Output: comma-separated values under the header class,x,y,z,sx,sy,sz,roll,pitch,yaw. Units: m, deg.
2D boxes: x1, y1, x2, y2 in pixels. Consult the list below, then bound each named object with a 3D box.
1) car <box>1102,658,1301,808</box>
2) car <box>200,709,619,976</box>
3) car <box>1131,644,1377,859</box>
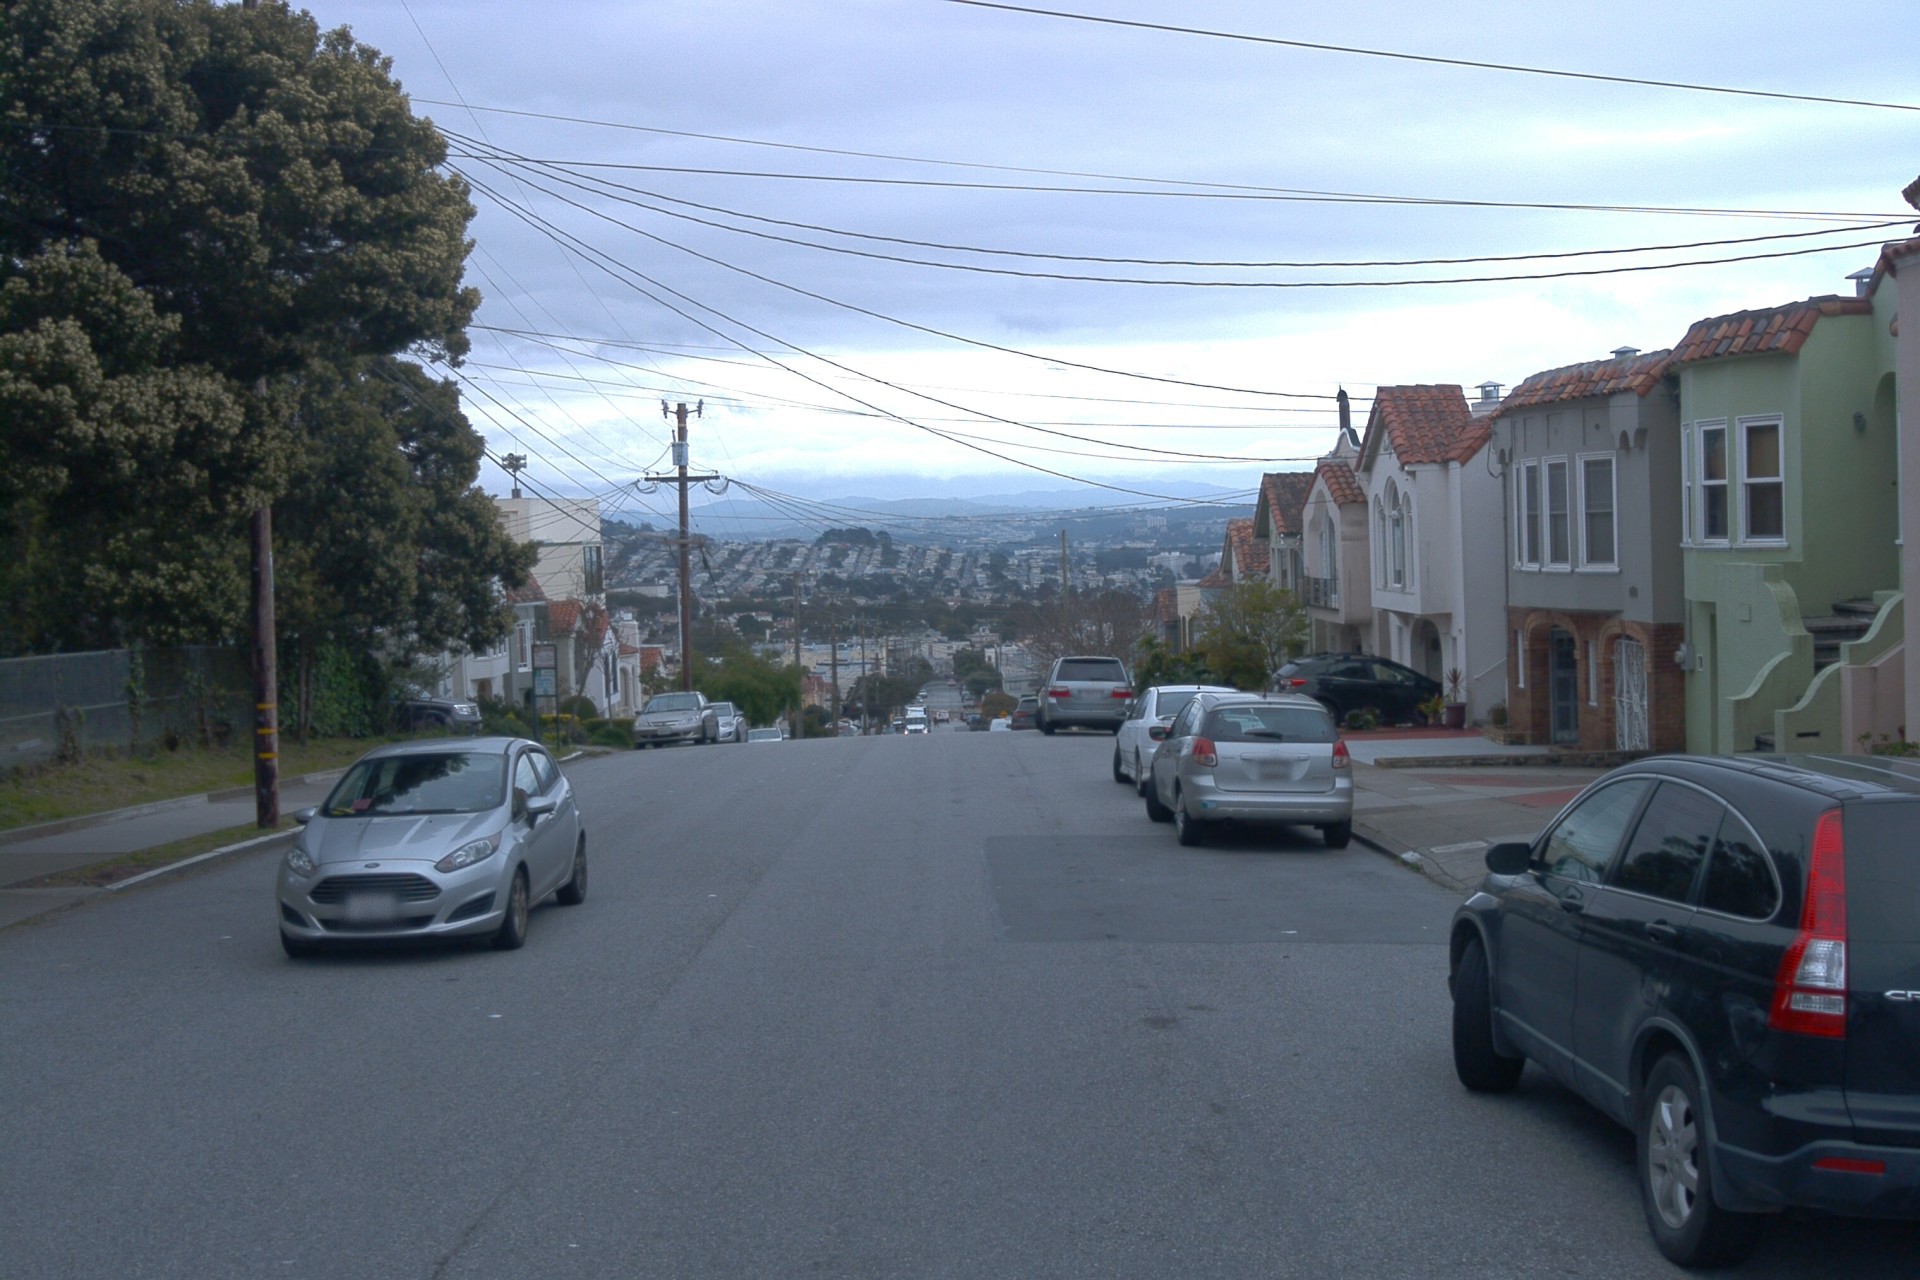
class,x,y,z,sx,sy,sz,roll,pitch,yaw
car,3.216,1.196,28.370,2.089,1.860,4.613,0,0,-2
car,-3.924,1.386,15.482,2.049,1.590,4.174,0,0,-1
car,3.039,1.090,22.162,1.982,2.084,4.249,0,0,-1
